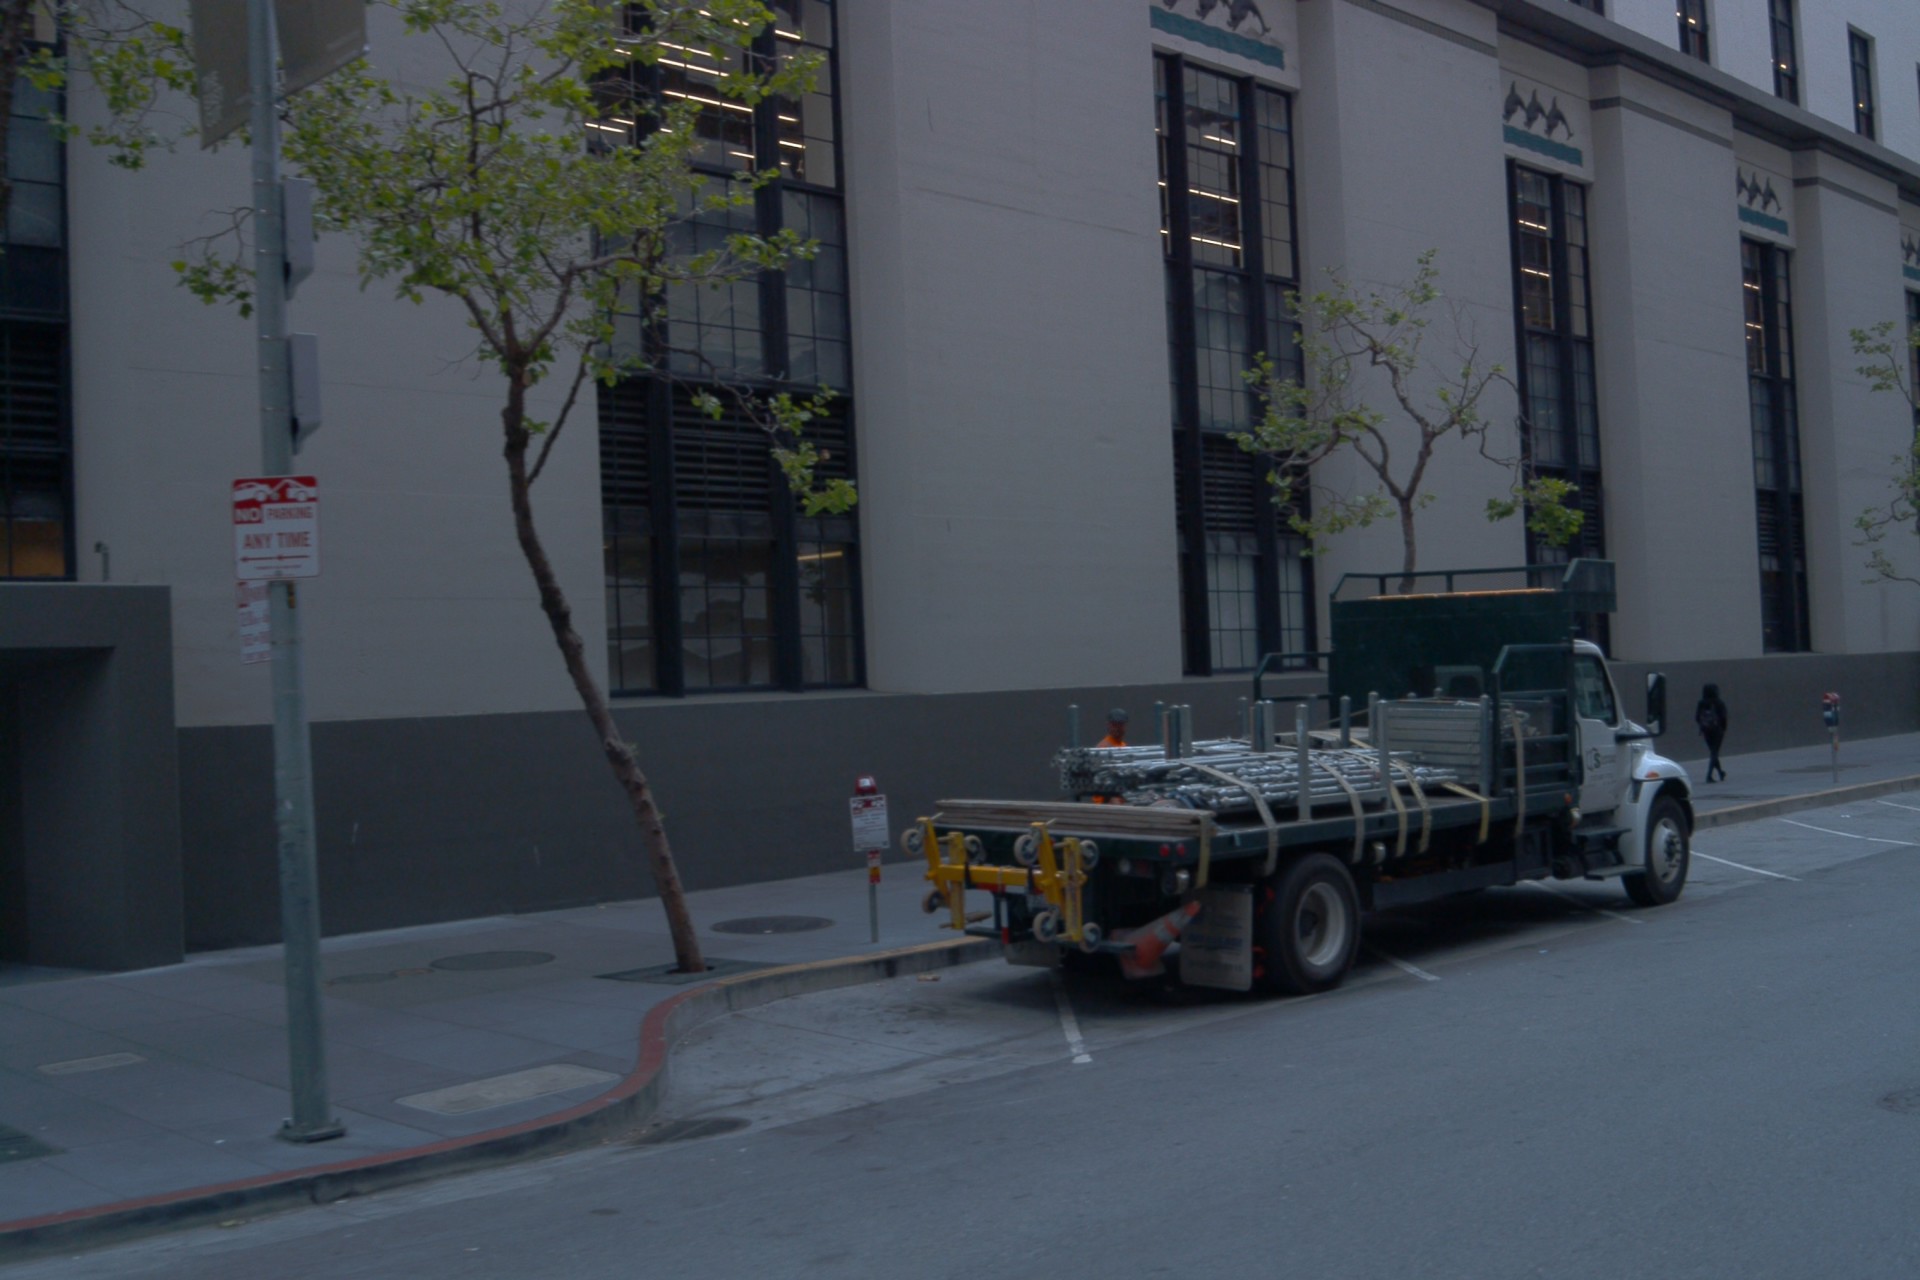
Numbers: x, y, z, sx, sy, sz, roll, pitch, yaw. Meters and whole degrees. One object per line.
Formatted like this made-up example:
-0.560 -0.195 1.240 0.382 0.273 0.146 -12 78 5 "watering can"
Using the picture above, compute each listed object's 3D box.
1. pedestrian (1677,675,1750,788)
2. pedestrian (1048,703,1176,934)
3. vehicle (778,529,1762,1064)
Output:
11.618 1.395 31.820 0.882 1.680 0.736 -1 1 -43 "pedestrian"
1.328 1.535 18.105 0.783 1.920 0.893 0 1 -25 "pedestrian"
3.083 0.905 17.154 3.229 3.310 9.223 1 1 45 "vehicle"
